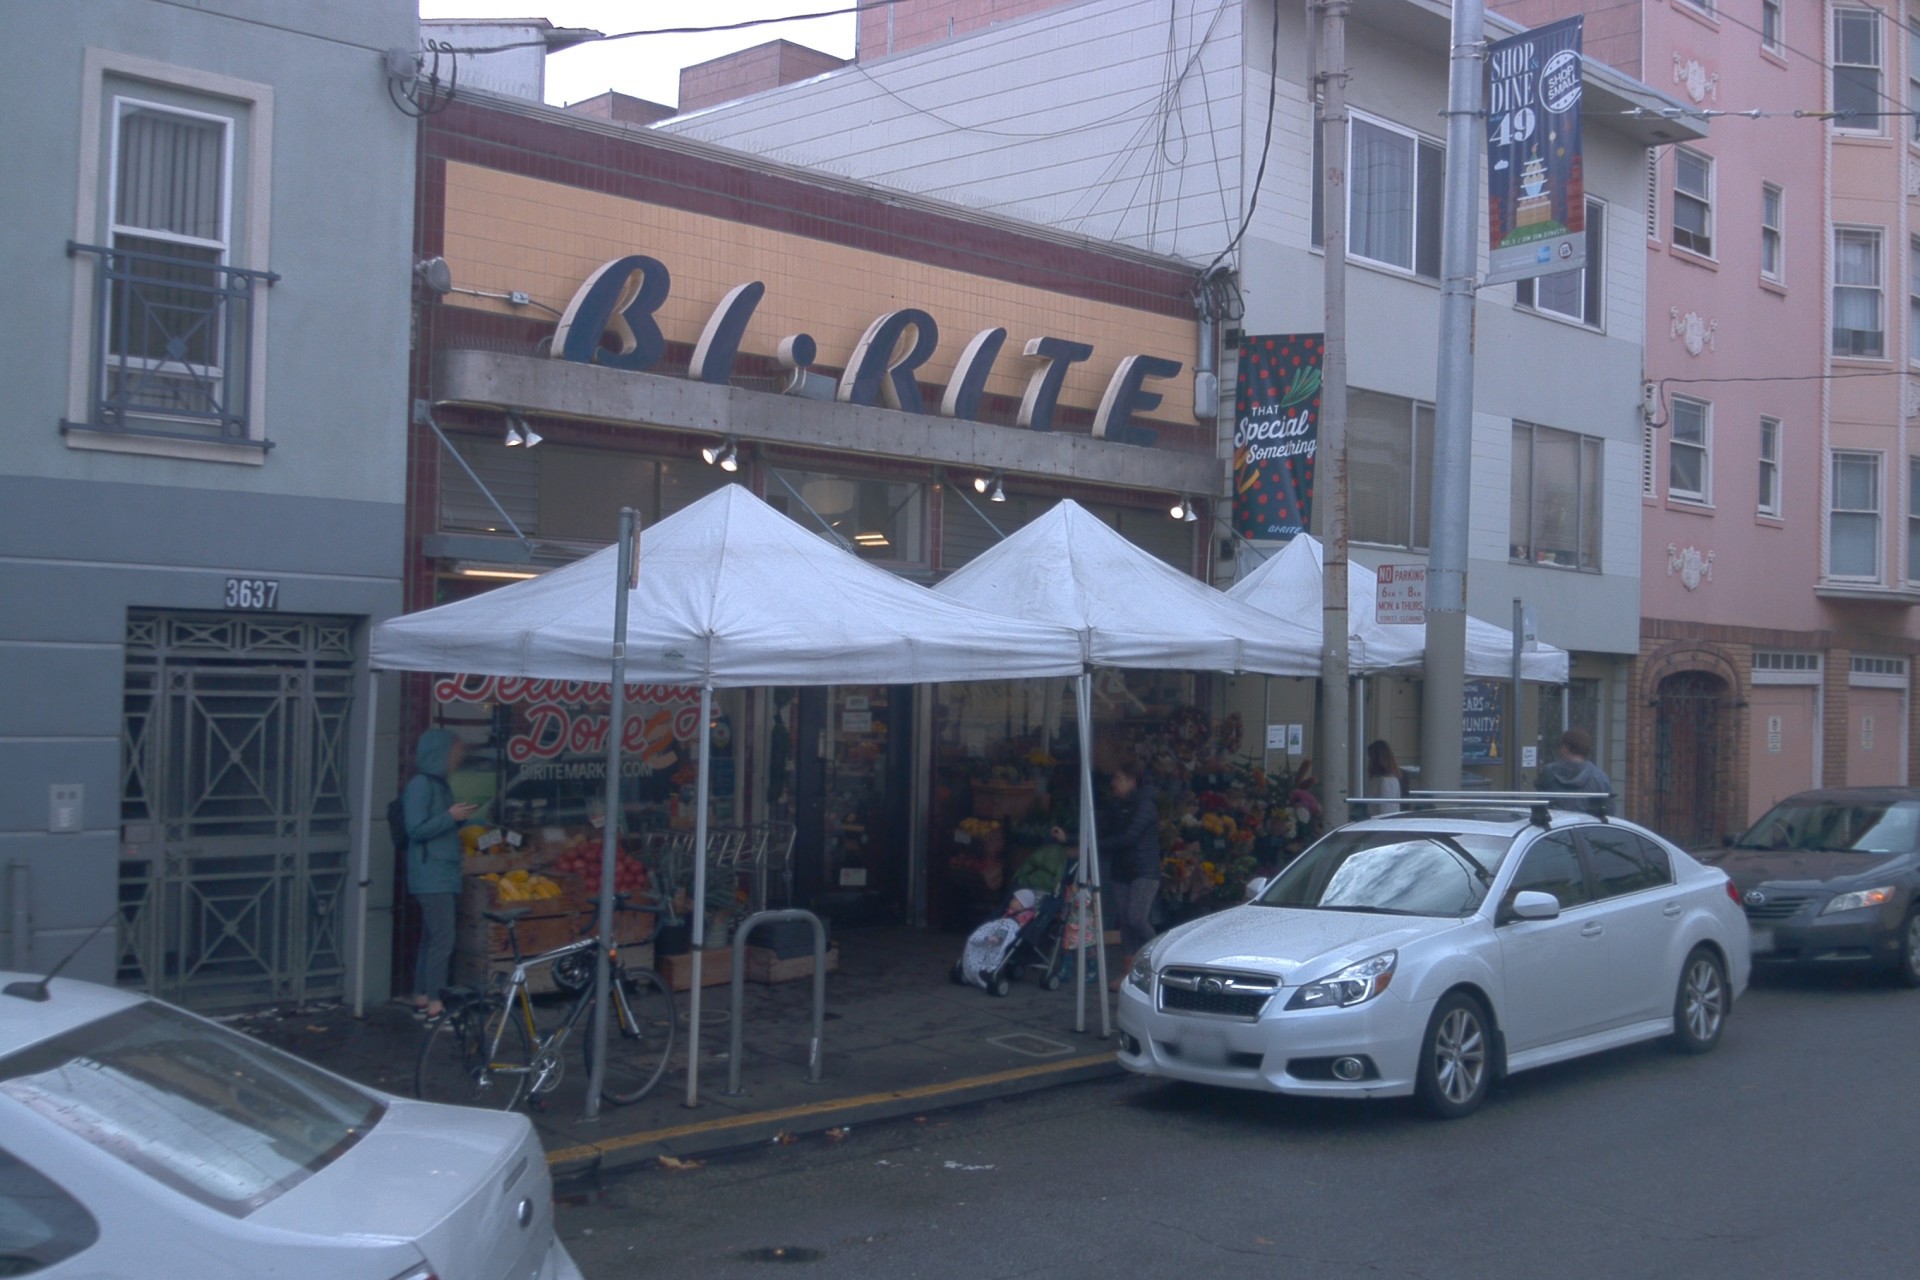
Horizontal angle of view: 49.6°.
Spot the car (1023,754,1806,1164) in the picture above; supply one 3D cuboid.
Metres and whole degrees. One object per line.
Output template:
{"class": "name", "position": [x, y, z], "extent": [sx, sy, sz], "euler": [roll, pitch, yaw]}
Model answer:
{"class": "car", "position": [2.788, 1.592, 11.931], "extent": [4.768, 1.700, 2.125], "euler": [2, -1, -45]}

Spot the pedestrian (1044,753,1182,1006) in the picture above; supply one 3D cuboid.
{"class": "pedestrian", "position": [1.006, 1.545, 13.633], "extent": [0.617, 1.570, 0.622], "euler": [2, -1, -45]}

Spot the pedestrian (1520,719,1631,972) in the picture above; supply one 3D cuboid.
{"class": "pedestrian", "position": [4.709, 1.541, 15.861], "extent": [0.756, 1.840, 0.723], "euler": [1, -1, 18]}

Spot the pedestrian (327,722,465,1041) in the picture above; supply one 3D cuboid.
{"class": "pedestrian", "position": [-3.230, 1.359, 11.908], "extent": [0.523, 1.750, 0.591], "euler": [1, -1, 9]}

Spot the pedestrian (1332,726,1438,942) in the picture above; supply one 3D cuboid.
{"class": "pedestrian", "position": [3.460, 1.552, 16.858], "extent": [0.740, 1.670, 0.762], "euler": [1, -1, 17]}
